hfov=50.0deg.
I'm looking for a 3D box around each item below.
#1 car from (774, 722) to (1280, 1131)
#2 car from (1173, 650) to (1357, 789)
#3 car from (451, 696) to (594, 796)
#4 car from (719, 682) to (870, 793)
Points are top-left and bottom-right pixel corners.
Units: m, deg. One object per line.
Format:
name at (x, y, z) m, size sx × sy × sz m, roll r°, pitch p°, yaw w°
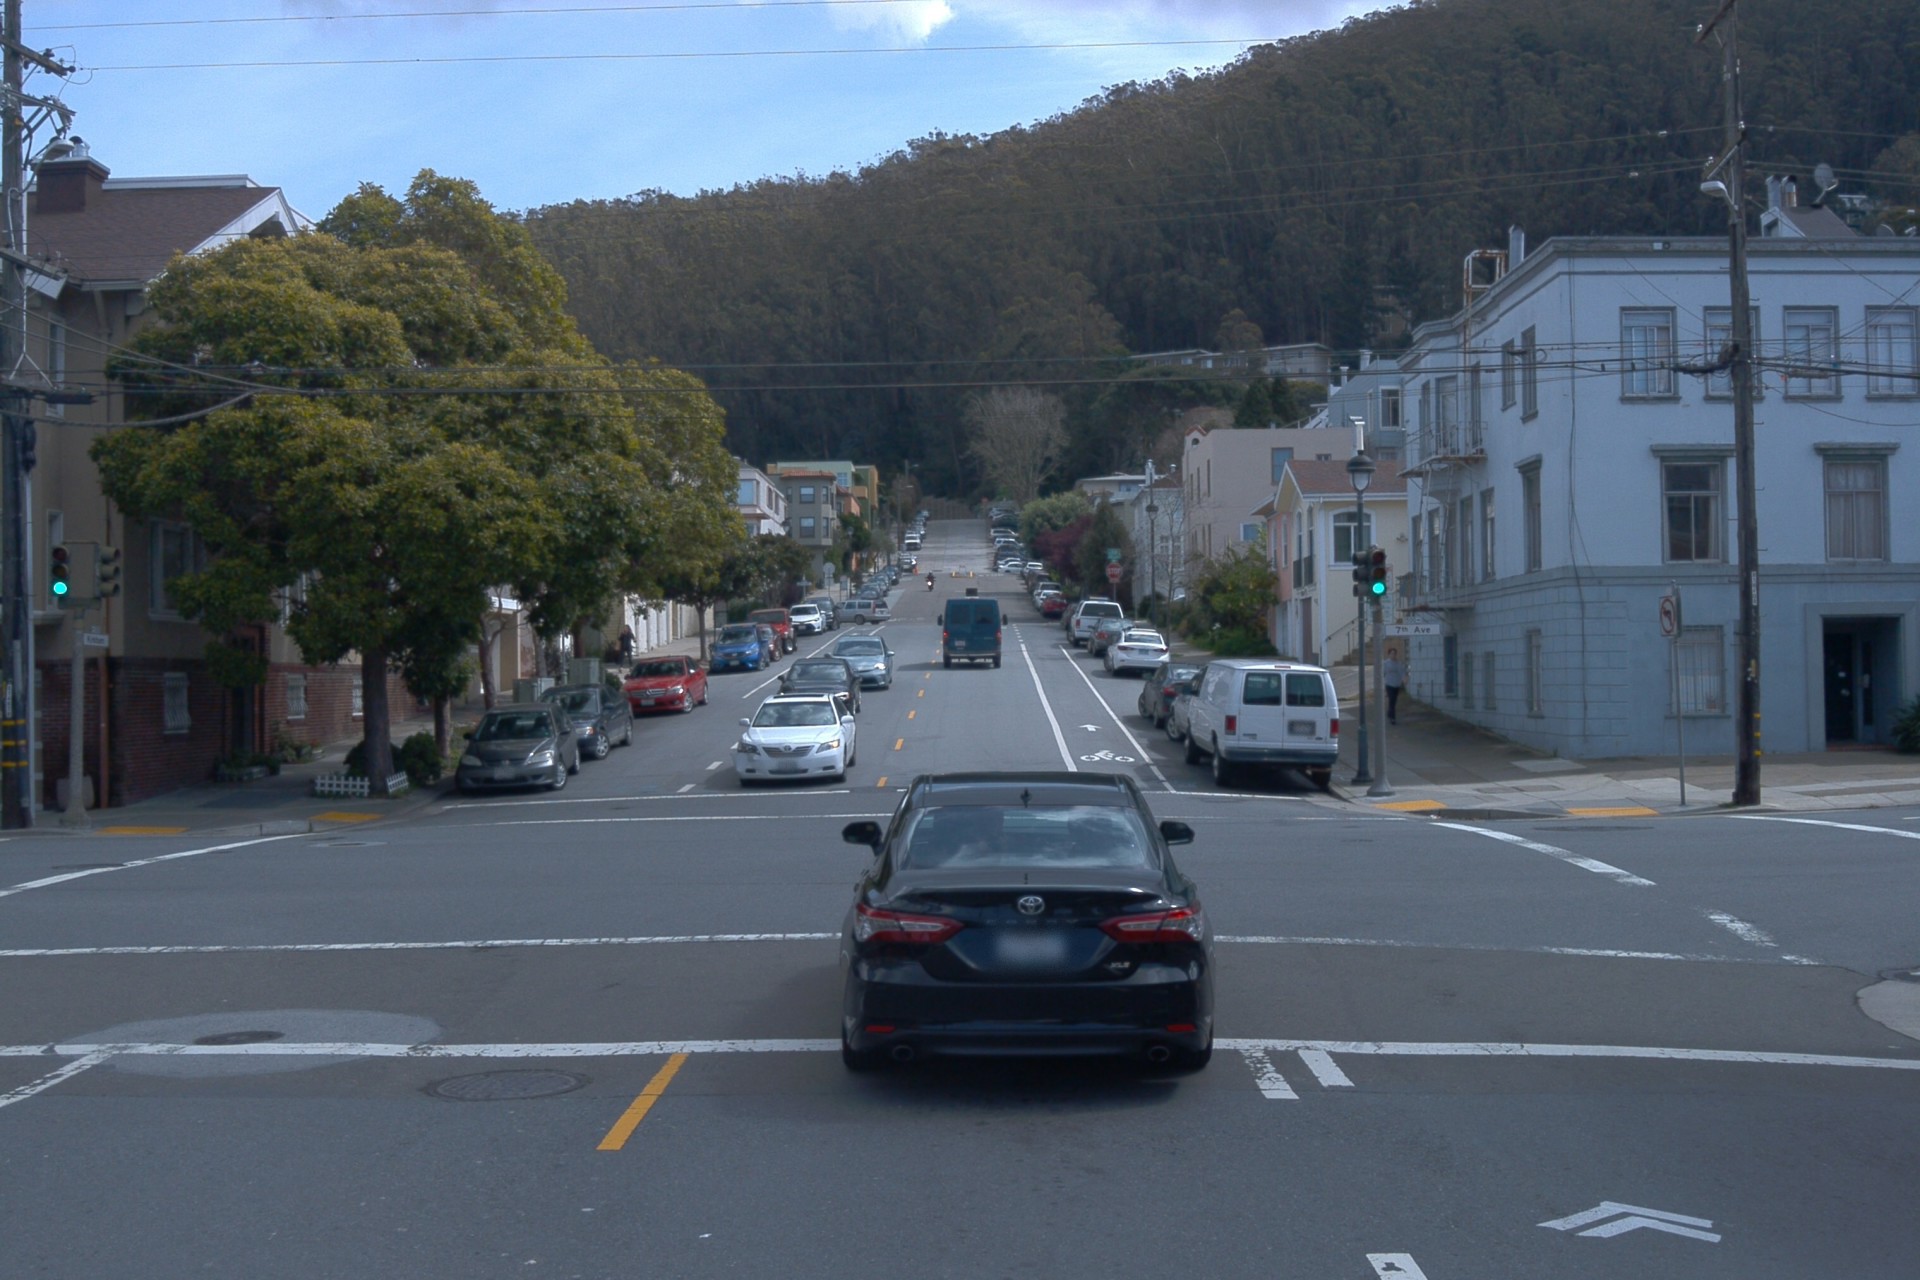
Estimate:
car at (0.341, 1.368, 11.560) m, size 2.249 × 1.620 × 4.798 m, roll 0°, pitch 0°, yaw 1°
car at (5.301, 1.324, 36.645) m, size 2.299 × 2.250 × 5.313 m, roll 0°, pitch 0°, yaw -2°
car at (-7.723, 1.841, 36.681) m, size 1.836 × 1.560 × 4.133 m, roll 0°, pitch 0°, yaw -3°
car at (-2.861, 1.677, 36.649) m, size 2.209 × 1.750 × 4.541 m, roll 0°, pitch 0°, yaw 1°
